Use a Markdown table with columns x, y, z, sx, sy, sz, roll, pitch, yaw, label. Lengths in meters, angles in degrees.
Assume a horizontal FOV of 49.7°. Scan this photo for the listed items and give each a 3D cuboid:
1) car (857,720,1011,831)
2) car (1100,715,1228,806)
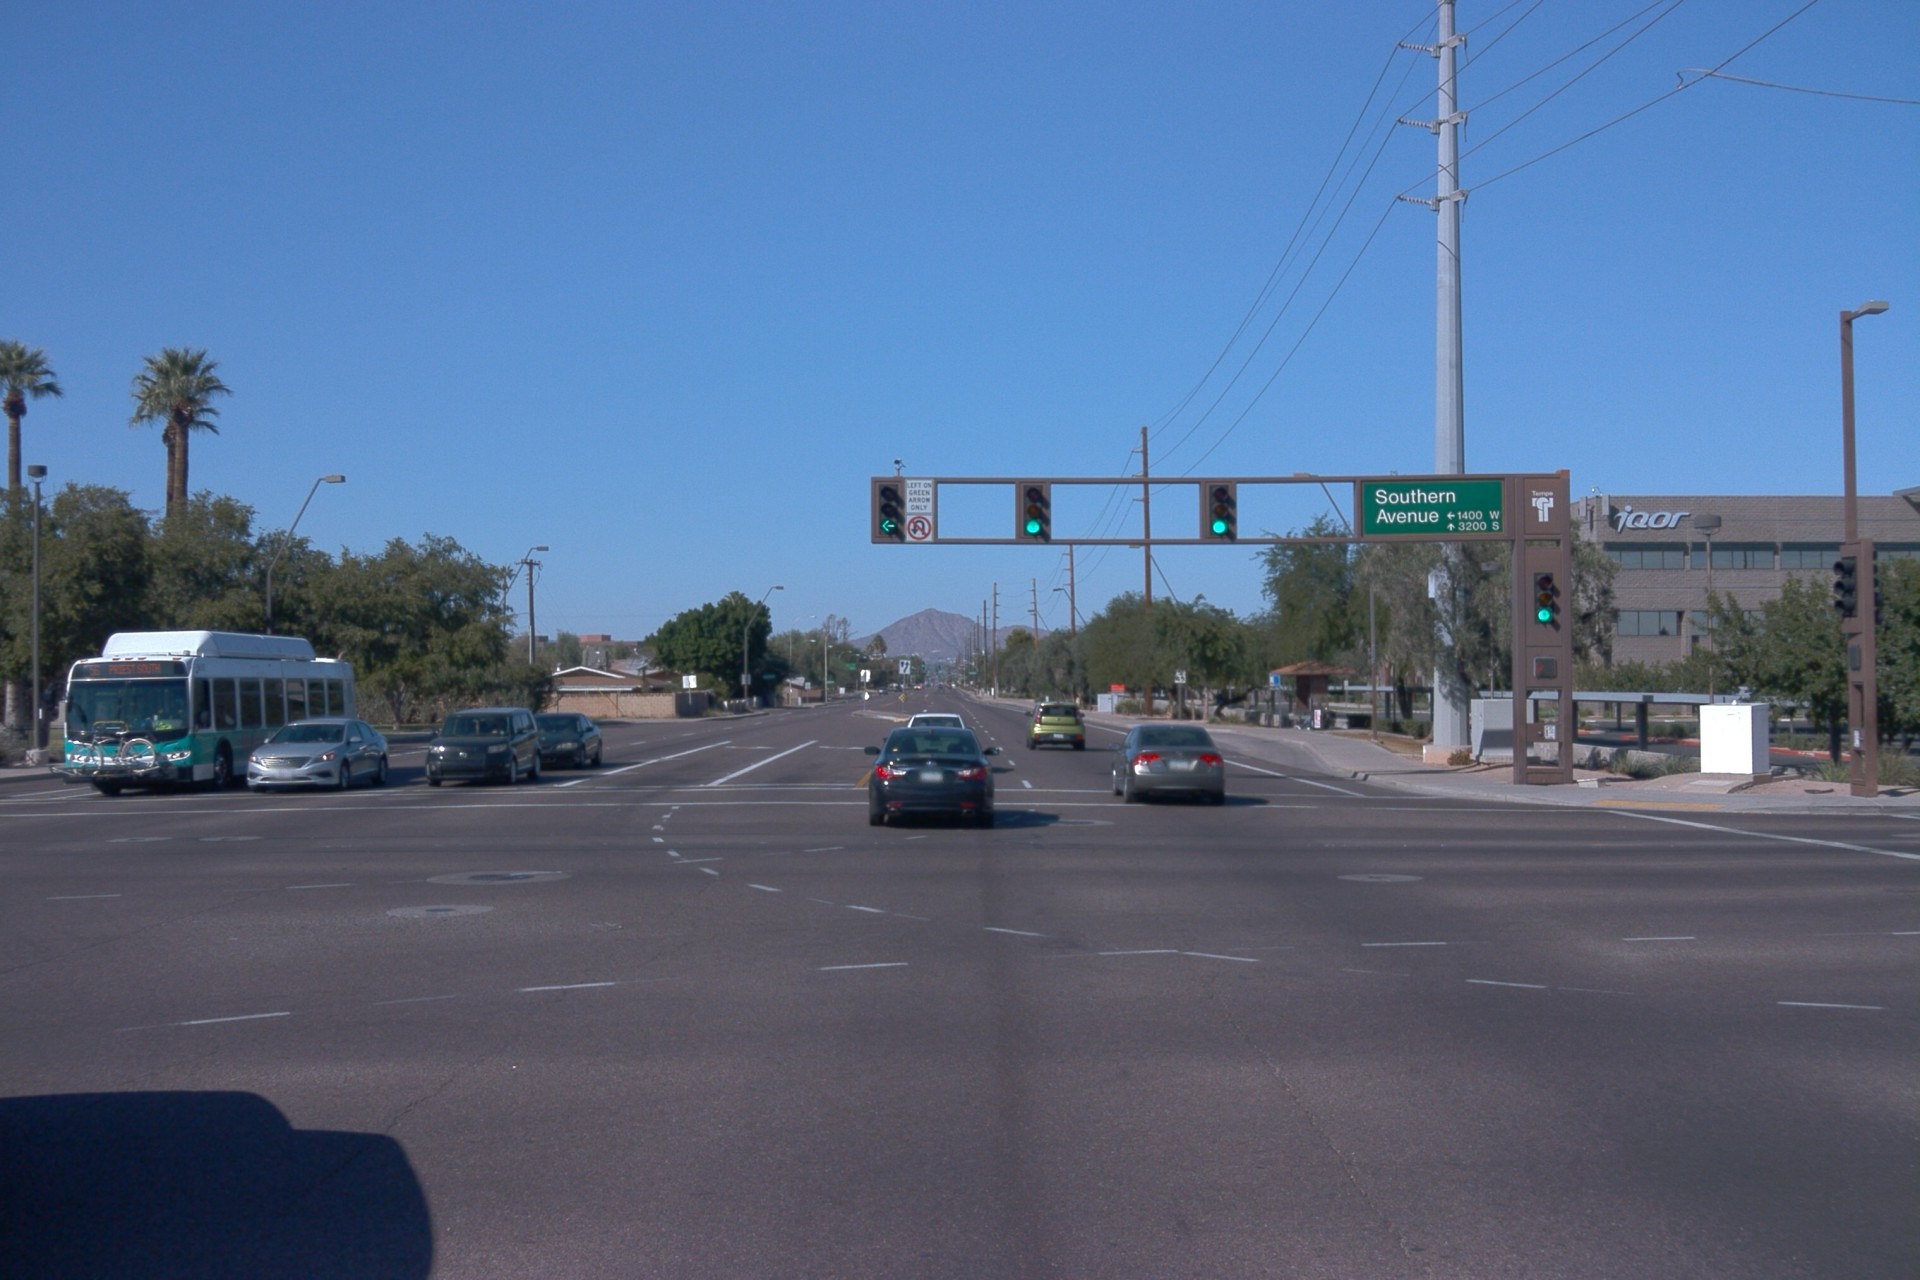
| x | y | z | sx | sy | sz | roll | pitch | yaw | label |
| --- | --- | --- | --- | --- | --- | --- | --- | --- | --- |
| -0.375 | 2.001 | 31.530 | 2.157 | 1.470 | 4.805 | 0 | -1 | 0 | car |
| 3.685 | 2.168 | 38.114 | 1.907 | 1.500 | 4.574 | 0 | -1 | 0 | car |
